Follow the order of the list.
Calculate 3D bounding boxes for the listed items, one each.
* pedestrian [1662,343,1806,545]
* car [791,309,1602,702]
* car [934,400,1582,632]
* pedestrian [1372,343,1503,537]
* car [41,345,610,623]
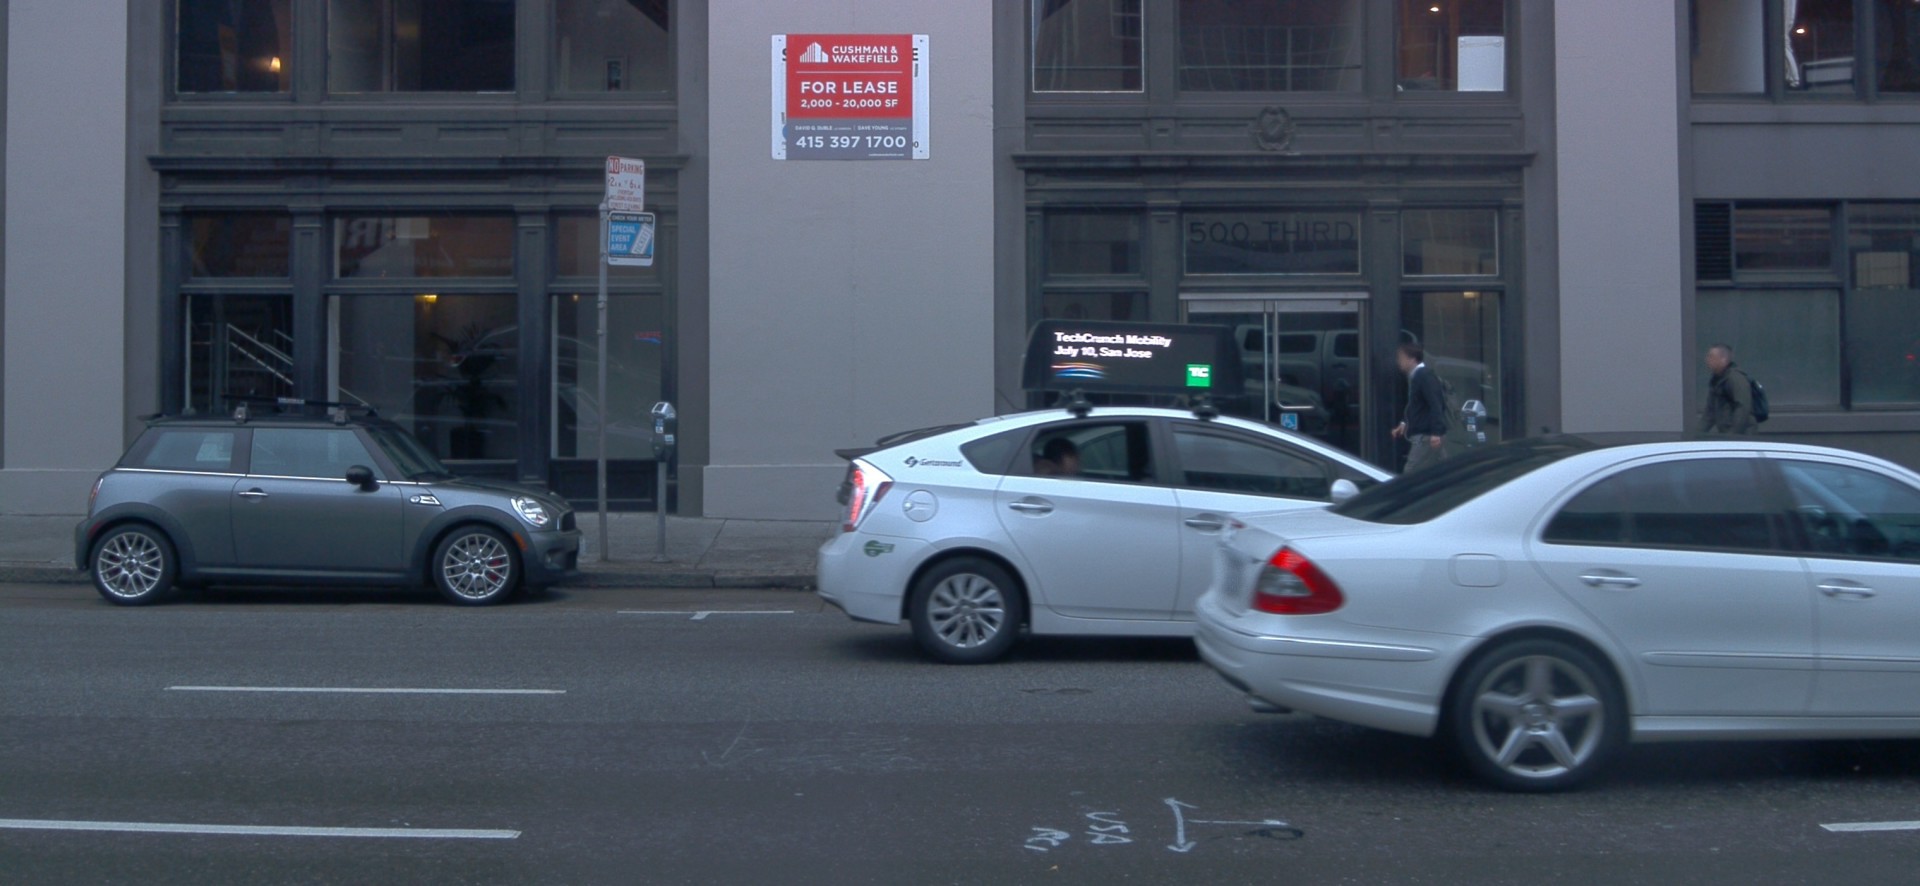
[{"bbox_3d":[7.233,-0.011,19.421,1.010,1.800,0.864,0,1,-2],"label":"pedestrian"},{"bbox_3d":[1.298,0.276,12.608,4.546,2.087,2.072,0,3,-3],"label":"car"},{"bbox_3d":[2.132,0.494,15.851,4.616,1.477,2.025,0,4,-2],"label":"car"},{"bbox_3d":[4.511,-0.048,19.646,1.027,1.740,0.850,0,1,-1],"label":"pedestrian"},{"bbox_3d":[-4.704,0.247,15.836,3.807,1.877,1.865,0,3,-3],"label":"car"}]
